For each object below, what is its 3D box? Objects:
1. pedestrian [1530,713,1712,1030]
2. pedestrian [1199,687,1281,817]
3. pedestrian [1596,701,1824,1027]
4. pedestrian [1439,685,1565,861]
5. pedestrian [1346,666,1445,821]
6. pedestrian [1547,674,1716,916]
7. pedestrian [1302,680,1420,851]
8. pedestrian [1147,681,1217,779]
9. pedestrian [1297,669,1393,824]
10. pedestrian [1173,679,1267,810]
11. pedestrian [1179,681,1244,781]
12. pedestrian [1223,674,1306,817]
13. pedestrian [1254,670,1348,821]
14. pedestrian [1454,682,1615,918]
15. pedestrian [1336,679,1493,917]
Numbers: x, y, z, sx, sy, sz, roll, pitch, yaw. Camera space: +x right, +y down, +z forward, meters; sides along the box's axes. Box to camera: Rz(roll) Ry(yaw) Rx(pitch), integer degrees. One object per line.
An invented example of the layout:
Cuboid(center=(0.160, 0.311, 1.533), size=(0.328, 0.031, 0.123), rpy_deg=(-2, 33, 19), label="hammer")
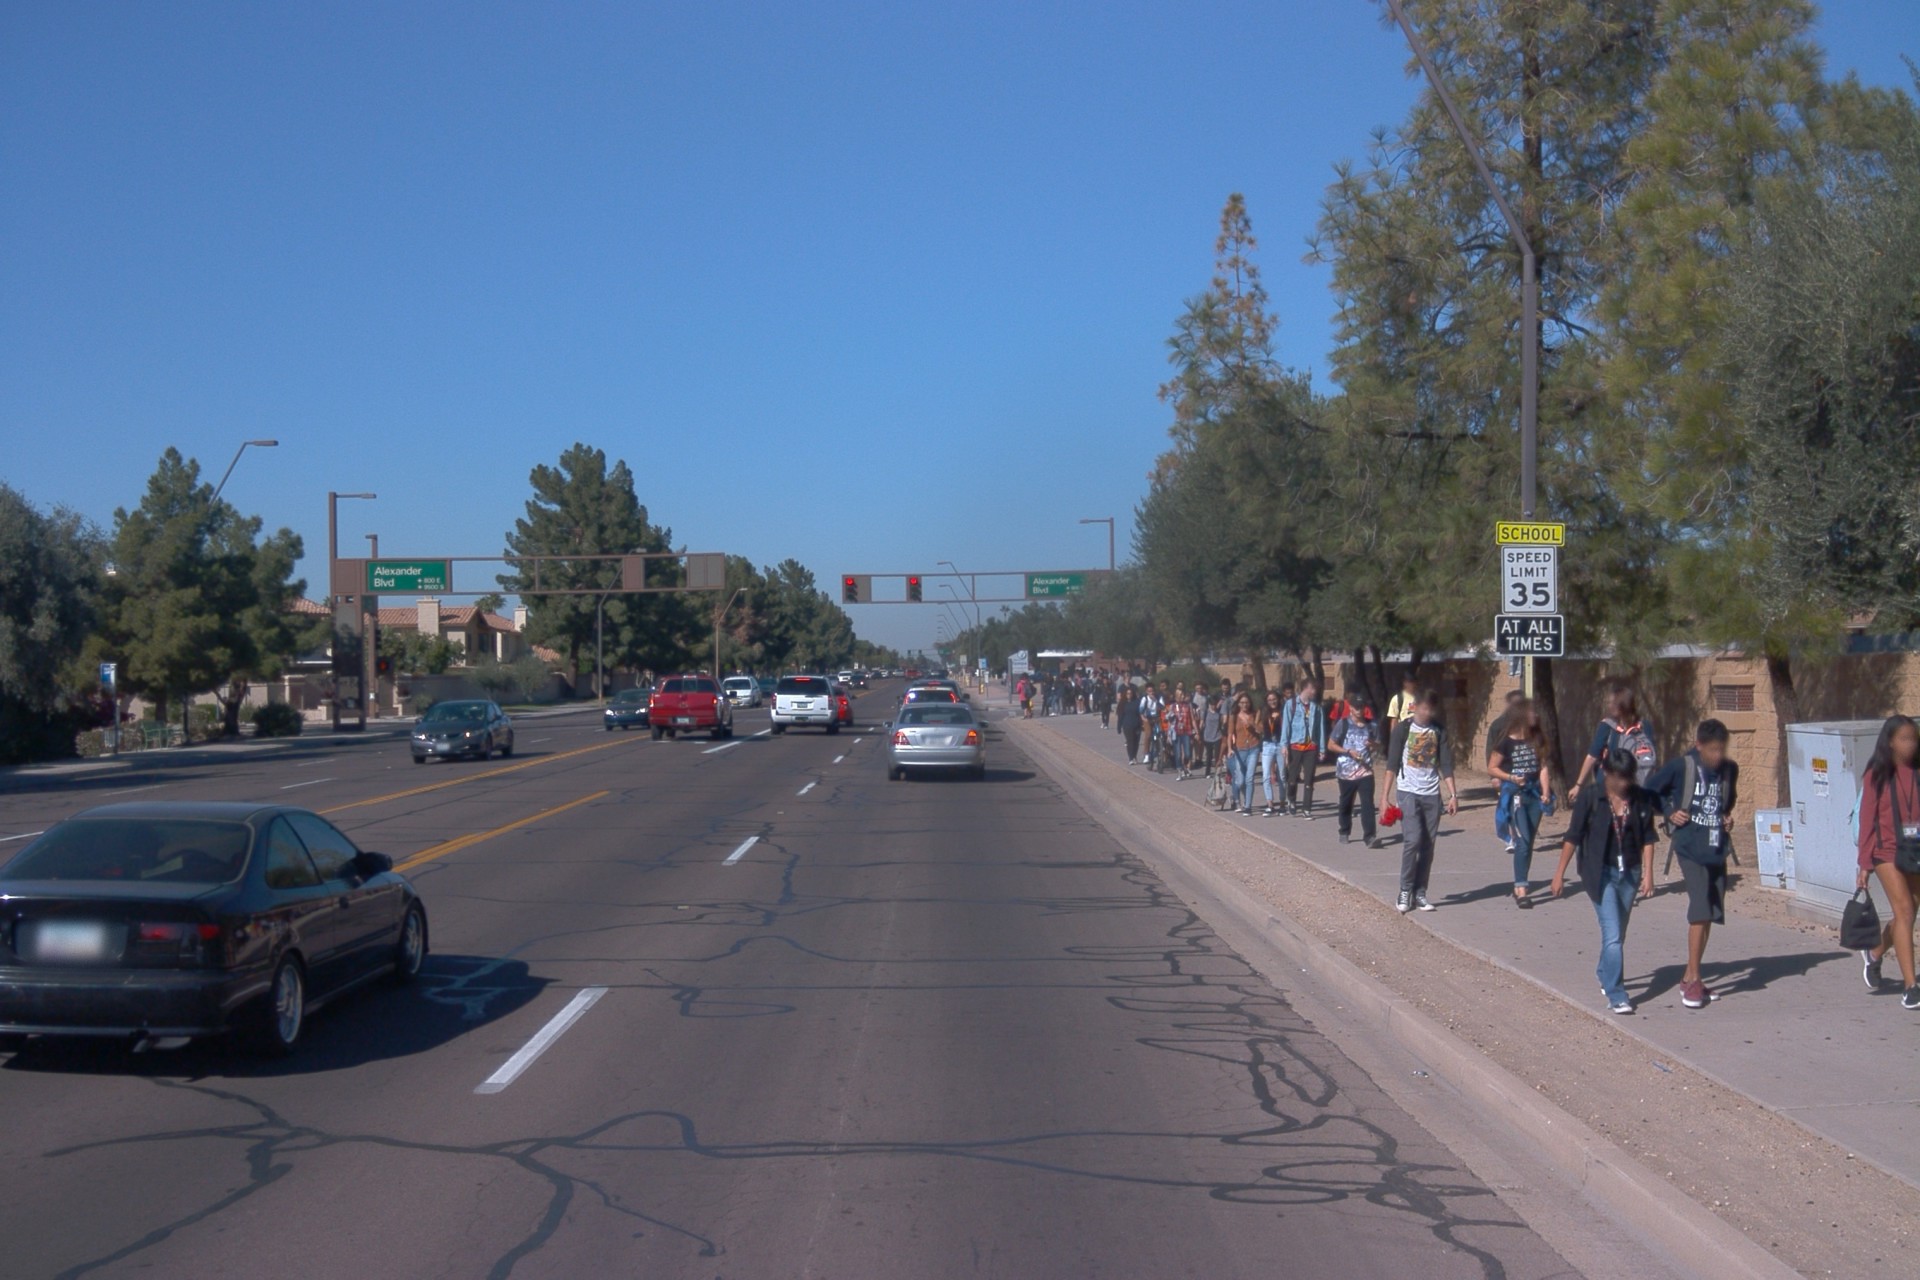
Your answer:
Cuboid(center=(3.750, 1.283, 11.863), size=(0.709, 1.720, 0.920), rpy_deg=(0, -1, -3), label="pedestrian")
Cuboid(center=(3.702, 1.454, 27.428), size=(0.989, 1.670, 1.285), rpy_deg=(0, -1, 11), label="pedestrian")
Cuboid(center=(4.237, 1.230, 11.824), size=(0.860, 1.750, 1.084), rpy_deg=(0, -1, -3), label="pedestrian")
Cuboid(center=(5.558, 1.348, 21.381), size=(0.982, 1.760, 1.025), rpy_deg=(0, -1, -3), label="pedestrian")
Cuboid(center=(5.498, 1.298, 26.314), size=(0.982, 1.920, 1.025), rpy_deg=(0, -1, -3), label="pedestrian")
Cuboid(center=(5.391, 1.221, 16.758), size=(0.982, 1.890, 1.025), rpy_deg=(0, -1, -4), label="pedestrian")
Cuboid(center=(4.325, 1.332, 22.539), size=(0.982, 1.800, 1.223), rpy_deg=(0, -1, -3), label="pedestrian")
Cuboid(center=(3.860, 1.565, 36.272), size=(1.042, 1.680, 1.162), rpy_deg=(0, -1, -3), label="pedestrian")
Cuboid(center=(4.870, 1.331, 26.366), size=(0.982, 1.920, 1.025), rpy_deg=(0, -1, -3), label="pedestrian")
Cuboid(center=(3.540, 1.413, 28.367), size=(0.981, 1.750, 1.026), rpy_deg=(0, -1, -13), label="pedestrian")
Cuboid(center=(4.373, 1.579, 36.236), size=(0.968, 1.710, 0.995), rpy_deg=(0, -1, -2), label="pedestrian")
Cuboid(center=(3.985, 1.356, 27.168), size=(0.983, 1.830, 1.024), rpy_deg=(0, -1, 13), label="pedestrian")
Cuboid(center=(4.319, 1.321, 26.397), size=(0.982, 1.870, 1.025), rpy_deg=(0, -1, -3), label="pedestrian")
Cuboid(center=(4.620, 1.262, 16.805), size=(0.982, 1.840, 1.025), rpy_deg=(0, -1, -3), label="pedestrian")
Cuboid(center=(3.610, 1.233, 16.598), size=(0.982, 1.840, 1.025), rpy_deg=(0, -1, -3), label="pedestrian")
